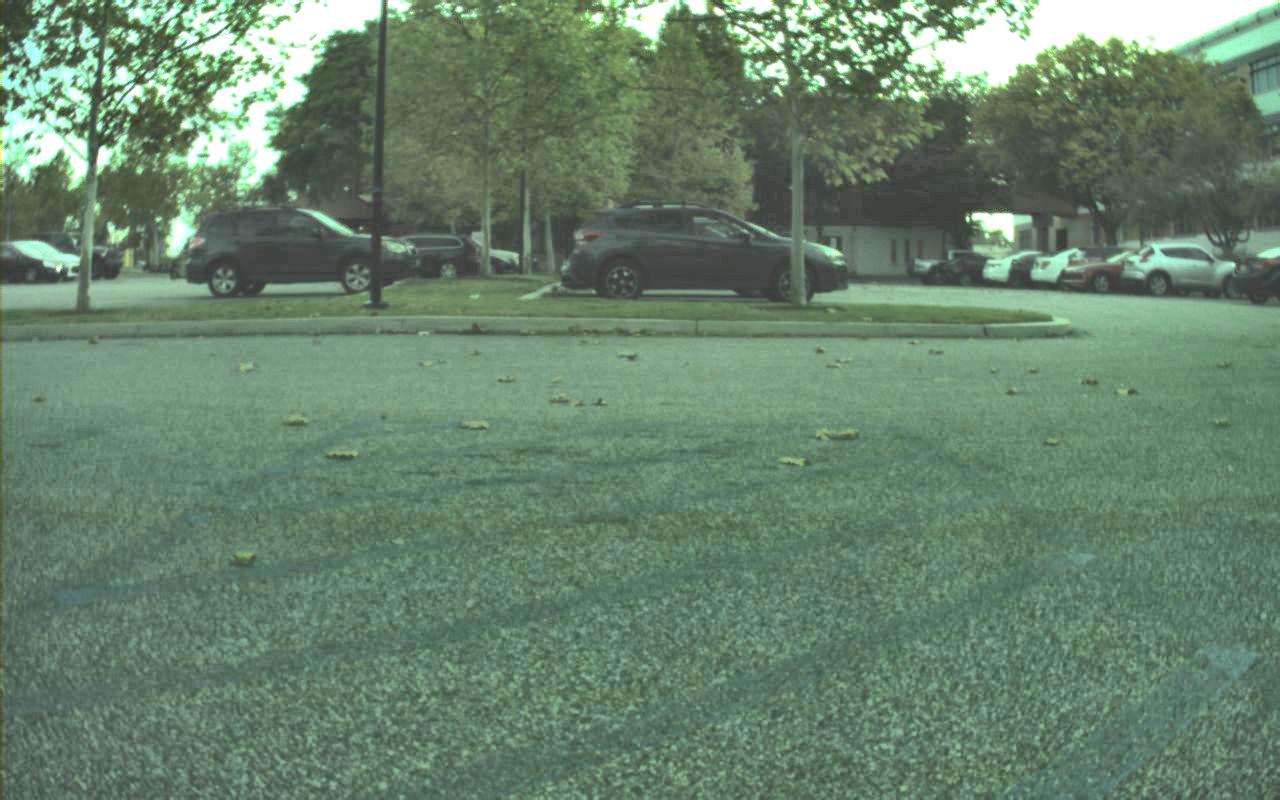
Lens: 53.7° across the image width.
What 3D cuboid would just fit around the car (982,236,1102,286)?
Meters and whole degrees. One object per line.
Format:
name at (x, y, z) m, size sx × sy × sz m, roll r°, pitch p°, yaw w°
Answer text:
car at (15.381, -5.262, 46.460) m, size 4.588 × 1.733 × 2.028 m, roll 1°, pitch 1°, yaw 13°

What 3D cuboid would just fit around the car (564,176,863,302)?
car at (1.117, -2.538, 20.214) m, size 4.609 × 1.783 × 1.996 m, roll 0°, pitch 1°, yaw -3°

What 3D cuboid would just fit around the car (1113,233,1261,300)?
car at (15.775, -3.732, 33.490) m, size 4.154 × 1.647 × 1.875 m, roll 0°, pitch 1°, yaw 2°

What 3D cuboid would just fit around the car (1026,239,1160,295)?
car at (15.720, -4.540, 41.515) m, size 4.457 × 1.687 × 1.956 m, roll 1°, pitch 1°, yaw 3°

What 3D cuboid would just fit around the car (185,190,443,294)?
car at (-6.150, -2.911, 23.071) m, size 4.631 × 1.740 × 1.991 m, roll 0°, pitch 1°, yaw -1°

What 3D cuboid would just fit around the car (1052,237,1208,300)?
car at (15.022, -3.922, 36.259) m, size 4.620 × 1.637 × 1.978 m, roll 0°, pitch 1°, yaw 0°
